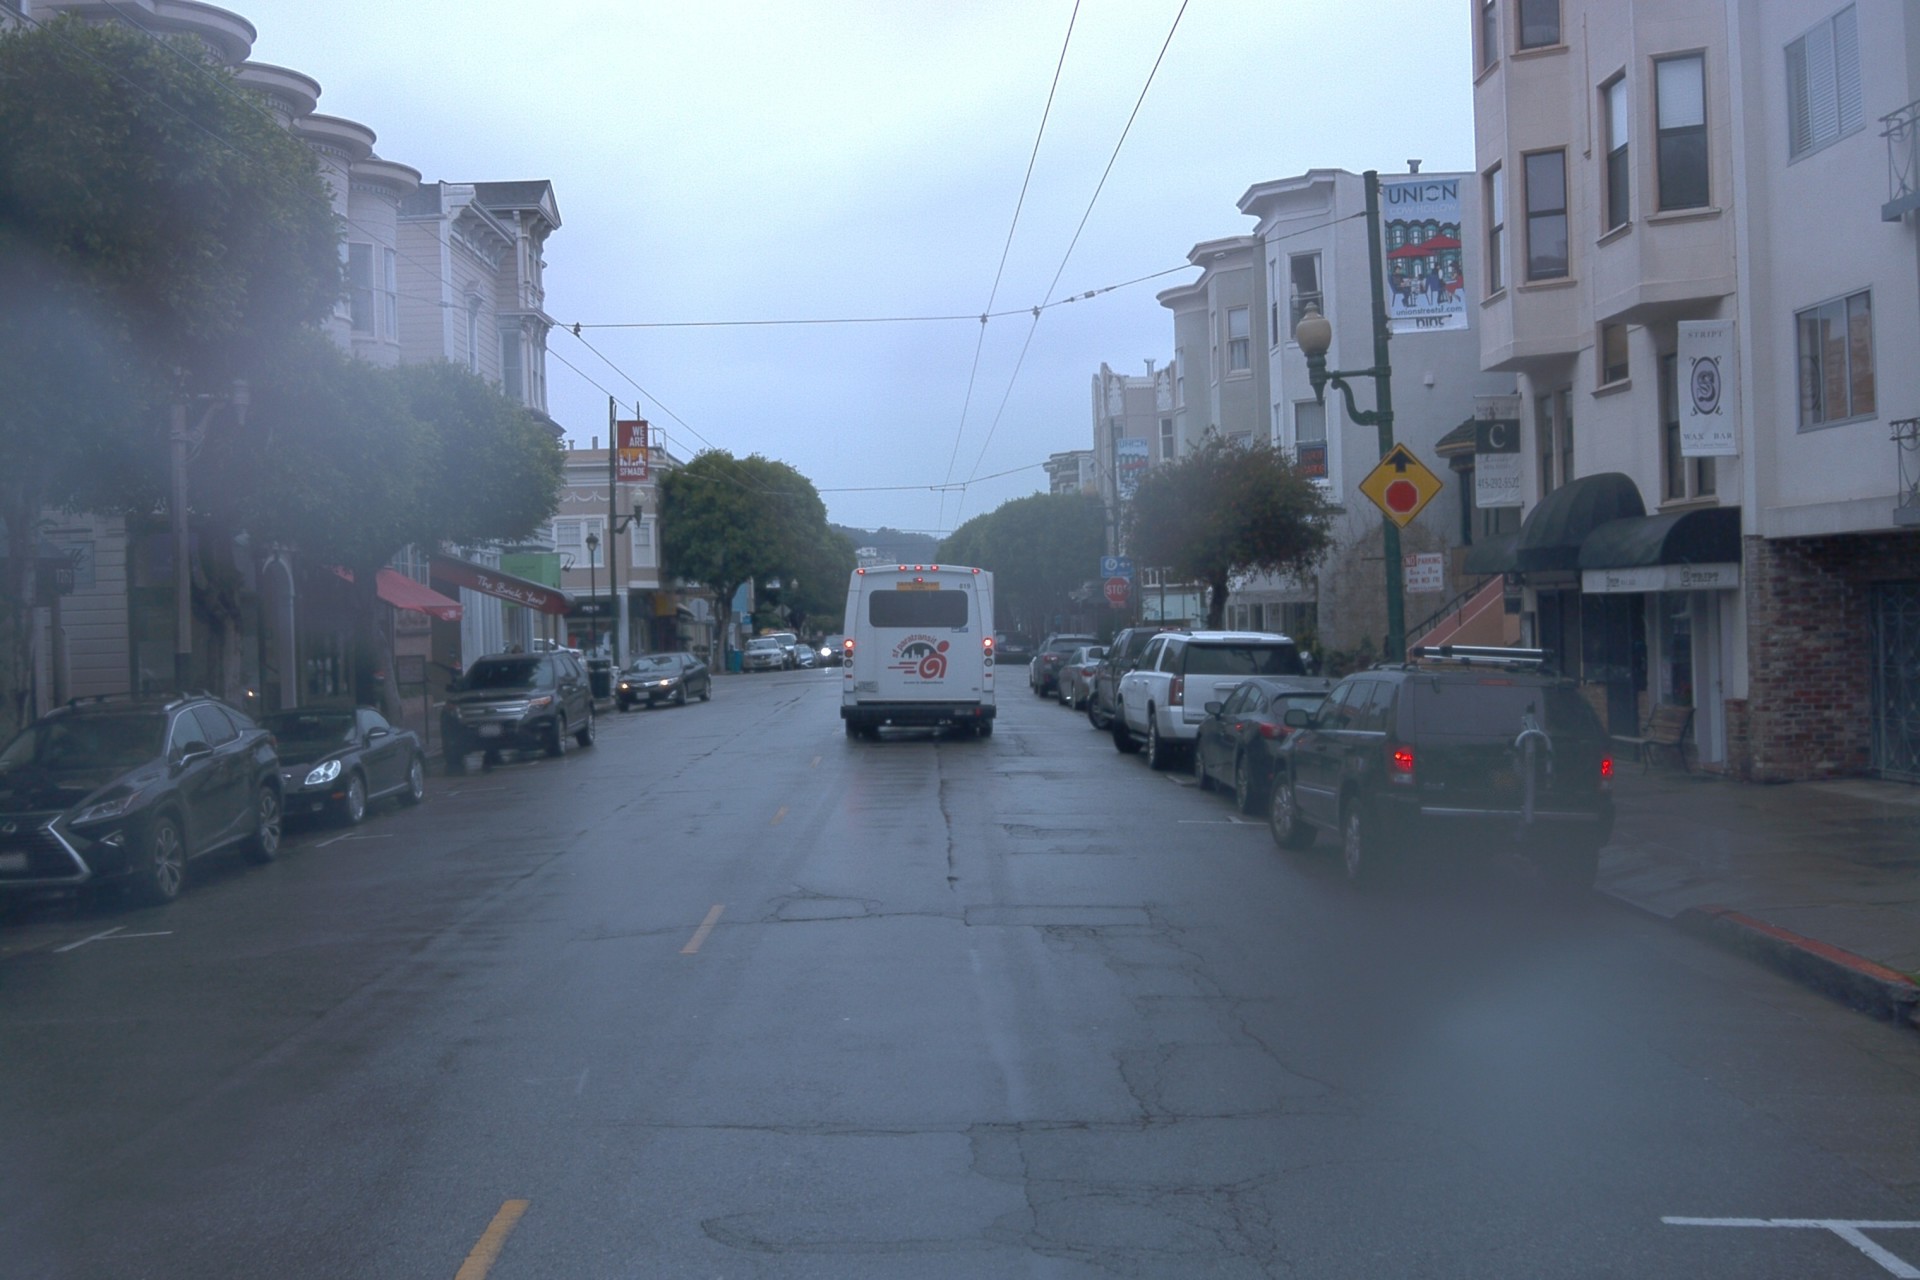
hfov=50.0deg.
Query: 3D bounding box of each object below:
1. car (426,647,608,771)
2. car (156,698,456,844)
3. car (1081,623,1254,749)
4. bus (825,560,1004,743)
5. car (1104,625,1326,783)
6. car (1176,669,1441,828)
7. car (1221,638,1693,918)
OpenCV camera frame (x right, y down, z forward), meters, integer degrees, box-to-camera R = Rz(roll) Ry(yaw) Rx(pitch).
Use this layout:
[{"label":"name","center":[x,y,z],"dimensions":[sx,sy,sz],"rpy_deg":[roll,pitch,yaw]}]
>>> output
[{"label":"car","center":[-7.534,1.123,35.528],"dimensions":[2.229,1.900,4.759],"rpy_deg":[1,1,-2]},{"label":"car","center":[-7.641,1.481,24.601],"dimensions":[2.074,1.380,4.645],"rpy_deg":[1,1,0]},{"label":"car","center":[3.460,0.712,35.514],"dimensions":[2.187,1.960,5.616],"rpy_deg":[1,1,-2]},{"label":"bus","center":[-0.755,0.140,35.724],"dimensions":[2.787,2.850,6.706],"rpy_deg":[1,1,-1]},{"label":"car","center":[3.447,0.800,29.058],"dimensions":[2.169,1.980,5.541],"rpy_deg":[1,1,-3]},{"label":"car","center":[3.787,1.135,23.247],"dimensions":[1.934,1.490,4.647],"rpy_deg":[1,1,-3]},{"label":"car","center":[3.820,0.964,17.102],"dimensions":[2.216,1.890,5.481],"rpy_deg":[1,1,-4]}]
